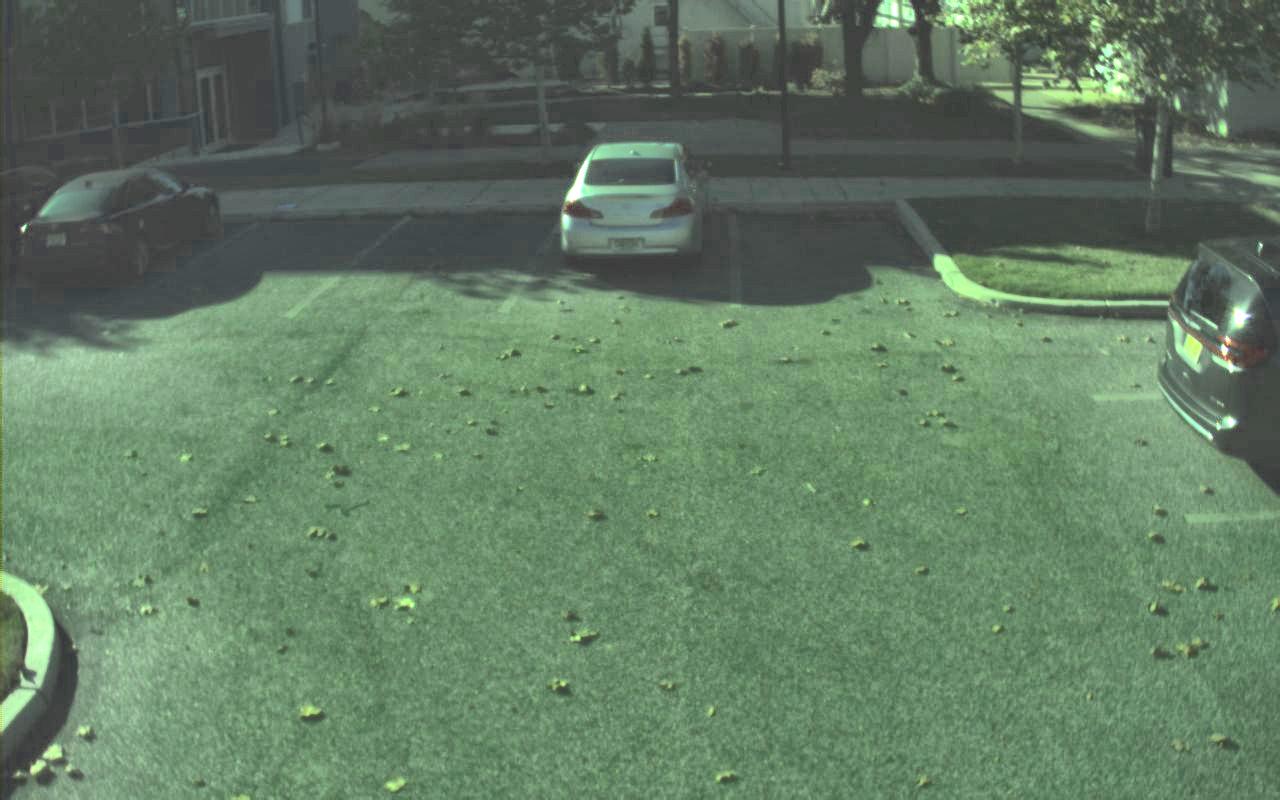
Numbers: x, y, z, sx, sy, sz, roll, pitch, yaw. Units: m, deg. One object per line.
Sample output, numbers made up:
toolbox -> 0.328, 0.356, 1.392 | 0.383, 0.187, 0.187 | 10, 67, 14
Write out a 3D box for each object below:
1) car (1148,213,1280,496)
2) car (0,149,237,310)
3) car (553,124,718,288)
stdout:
car -> 6.376, -0.365, 8.549 | 4.457, 1.691, 2.008 | 1, 16, 7
car -> -7.783, -2.628, 17.456 | 1.970, 1.580, 4.621 | 0, 17, 3
car -> 0.074, -2.730, 16.837 | 1.909, 1.573, 4.395 | 0, 17, 3
